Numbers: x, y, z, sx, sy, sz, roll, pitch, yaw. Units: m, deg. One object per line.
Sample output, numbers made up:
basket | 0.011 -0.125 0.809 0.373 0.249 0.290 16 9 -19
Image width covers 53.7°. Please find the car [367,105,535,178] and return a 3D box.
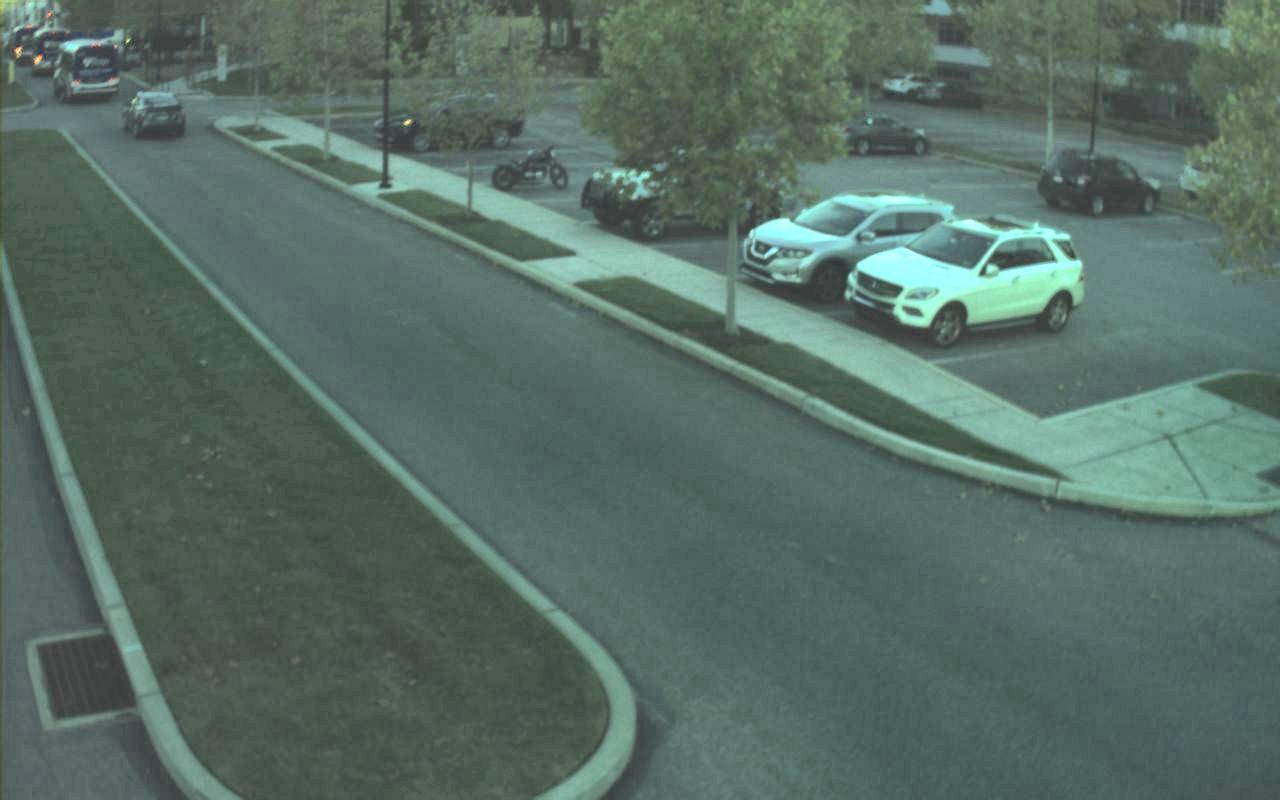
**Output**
car | -5.670 -7.801 37.129 4.679 1.730 2.004 -12 19 -35

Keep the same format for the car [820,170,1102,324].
car | 5.447 -2.666 20.341 4.828 1.871 2.066 -11 19 -32

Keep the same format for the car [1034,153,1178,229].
car | 13.548 -6.039 34.147 4.677 1.721 2.018 -11 19 -32

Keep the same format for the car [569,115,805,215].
car | 1.026 -4.983 26.127 4.604 1.665 2.012 -10 18 -30

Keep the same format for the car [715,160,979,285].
car | 3.785 -3.275 22.275 4.616 1.660 1.987 -11 18 -30
